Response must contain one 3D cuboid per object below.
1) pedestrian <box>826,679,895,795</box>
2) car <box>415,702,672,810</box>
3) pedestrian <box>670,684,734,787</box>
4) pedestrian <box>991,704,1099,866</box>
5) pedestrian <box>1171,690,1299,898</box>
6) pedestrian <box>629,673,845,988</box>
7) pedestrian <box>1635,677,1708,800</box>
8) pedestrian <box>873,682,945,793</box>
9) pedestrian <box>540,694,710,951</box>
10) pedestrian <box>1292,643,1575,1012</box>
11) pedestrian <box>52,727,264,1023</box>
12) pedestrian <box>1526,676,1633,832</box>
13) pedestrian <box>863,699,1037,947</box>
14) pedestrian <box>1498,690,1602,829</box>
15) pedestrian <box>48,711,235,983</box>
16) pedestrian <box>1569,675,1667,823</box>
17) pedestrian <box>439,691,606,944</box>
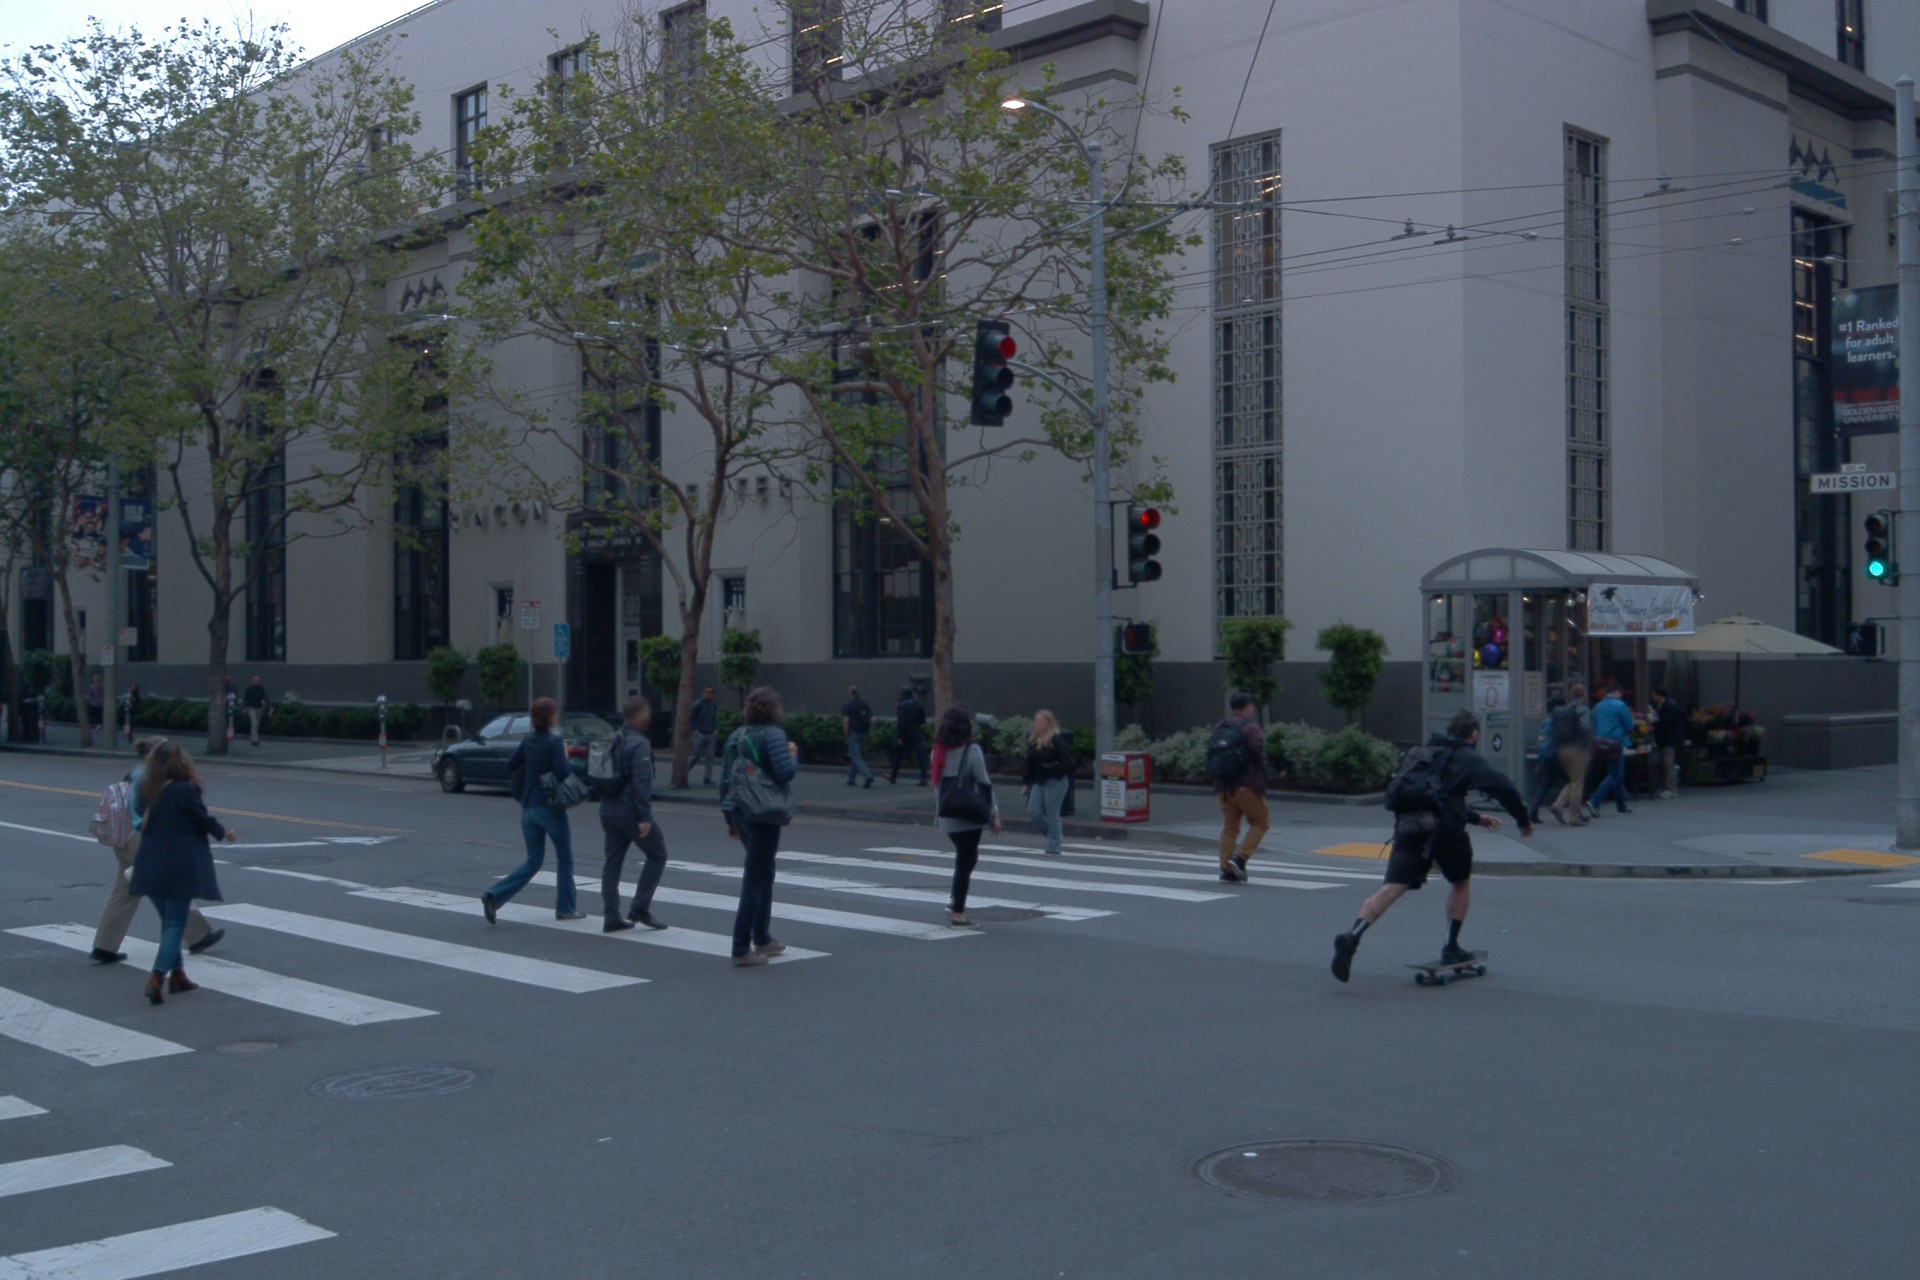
[{"bbox_3d":[-1.652,1.587,34.212,0.681,1.856,0.975,-1,1,-40],"label":"pedestrian"},{"bbox_3d":[-7.031,1.874,34.537,2.016,1.480,4.678,-1,1,-44],"label":"car"},{"bbox_3d":[-4.450,1.633,35.581,0.726,1.726,0.865,-1,1,-42],"label":"pedestrian"},{"bbox_3d":[0.913,1.539,22.155,0.894,1.646,0.735,-1,1,-40],"label":"pedestrian"},{"bbox_3d":[2.476,1.353,18.556,0.716,1.771,0.964,1,1,43],"label":"pedestrian"},{"bbox_3d":[-1.486,1.224,13.842,0.842,1.969,1.167,1,1,42],"label":"pedestrian"},{"bbox_3d":[10.501,1.444,30.464,0.751,1.746,0.848,1,1,42],"label":"pedestrian"},{"bbox_3d":[-0.858,1.613,34.483,0.757,1.796,0.983,-1,1,-40],"label":"pedestrian"},{"bbox_3d":[-2.523,1.335,15.545,0.942,1.809,0.850,-1,1,-42],"label":"pedestrian"},{"bbox_3d":[2.984,1.093,12.947,1.097,2.118,1.544,1,1,44],"label":"pedestrian"},{"bbox_3d":[-5.049,1.447,13.031,0.883,1.741,0.891,0,1,13],"label":"pedestrian"},{"bbox_3d":[7.809,1.417,26.036,1.051,1.896,0.762,-1,1,-26],"label":"pedestrian"},{"bbox_3d":[-0.071,1.341,15.570,1.044,1.739,0.795,-1,1,-42],"label":"pedestrian"},{"bbox_3d":[7.589,1.519,26.569,0.974,1.706,0.840,-1,1,-26],"label":"pedestrian"},{"bbox_3d":[-5.739,1.410,14.465,1.013,1.767,0.829,-1,1,-38],"label":"pedestrian"},{"bbox_3d":[8.769,1.434,27.520,0.983,1.896,0.798,-1,1,-31],"label":"pedestrian"},{"bbox_3d":[-3.419,1.348,16.153,0.828,1.856,0.973,1,1,43],"label":"pedestrian"}]
